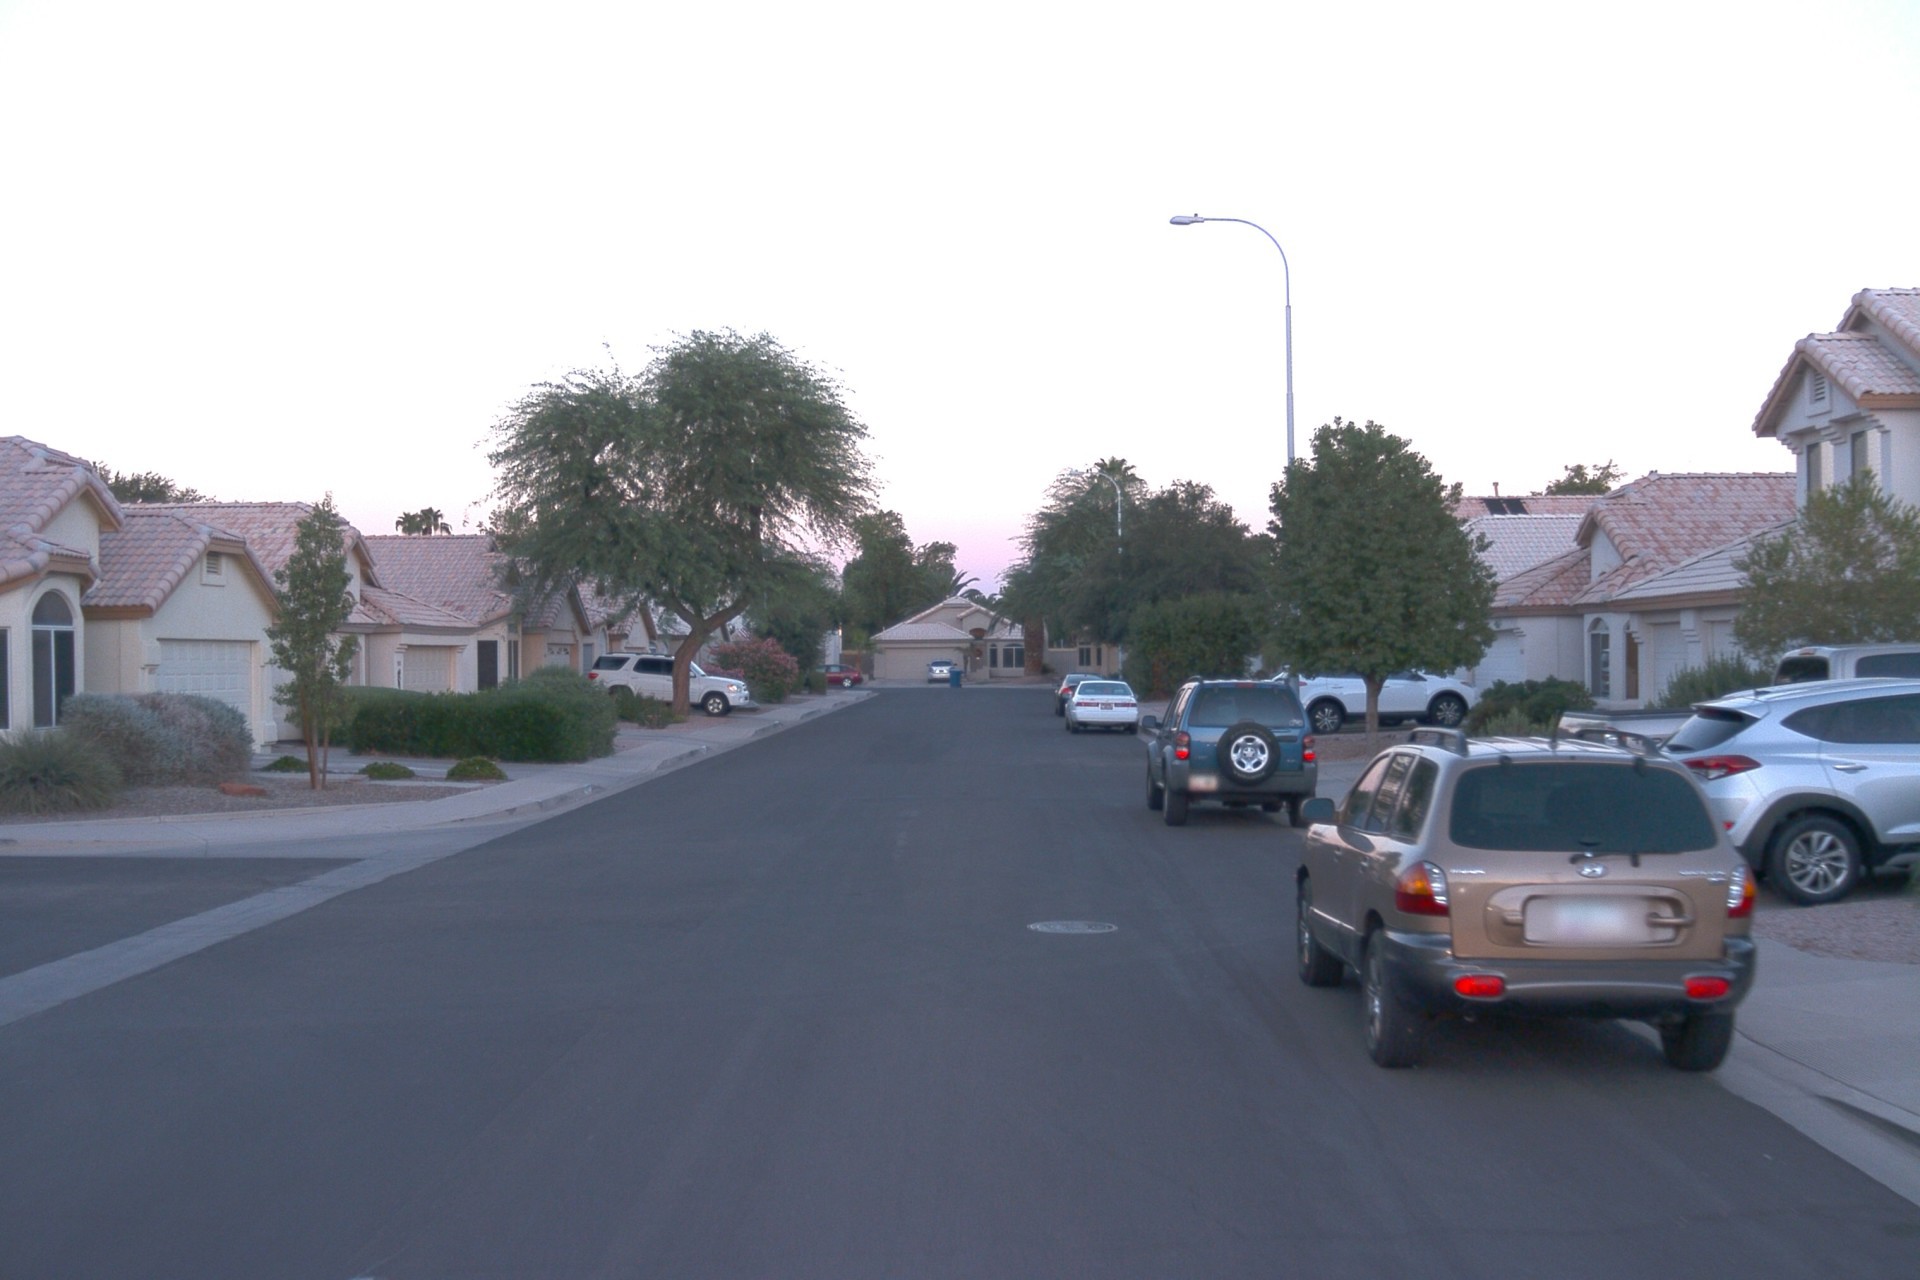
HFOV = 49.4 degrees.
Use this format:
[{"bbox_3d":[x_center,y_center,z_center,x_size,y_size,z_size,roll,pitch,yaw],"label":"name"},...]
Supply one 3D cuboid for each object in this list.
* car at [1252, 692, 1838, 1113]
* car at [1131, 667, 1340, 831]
[{"bbox_3d":[3.020,1.263,12.003,2.117,1.840,4.826,0,-1,2],"label":"car"},{"bbox_3d":[3.373,1.291,26.455,2.113,1.870,4.648,0,-1,1],"label":"car"}]
